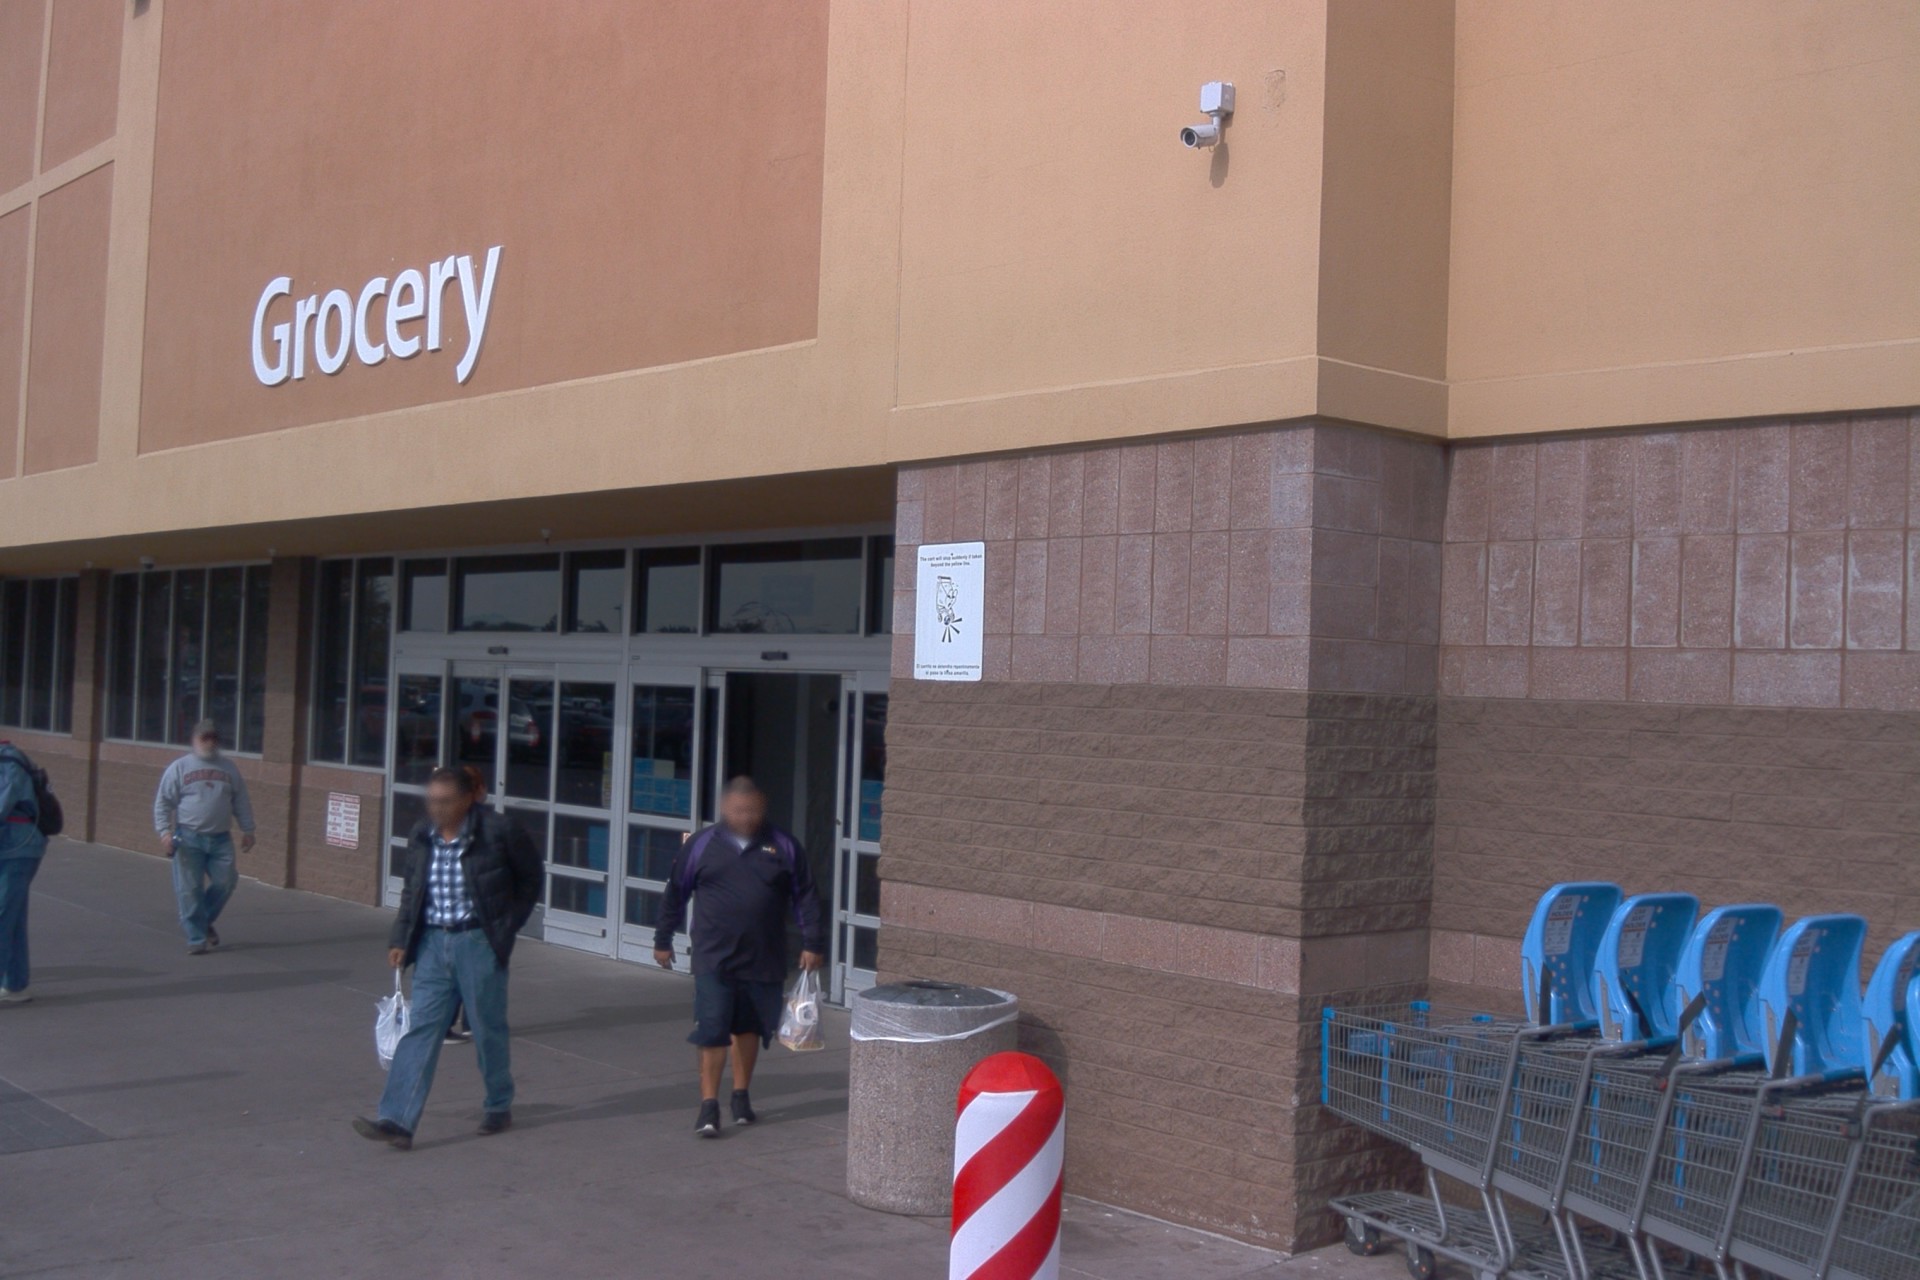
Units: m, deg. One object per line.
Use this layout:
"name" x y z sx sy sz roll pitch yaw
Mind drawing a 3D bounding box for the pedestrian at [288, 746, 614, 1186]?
"pedestrian" -2.238 1.382 9.260 1.000 1.760 1.000 1 0 19

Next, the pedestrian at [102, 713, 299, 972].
"pedestrian" -5.387 1.391 14.765 1.000 1.710 1.000 1 0 -40

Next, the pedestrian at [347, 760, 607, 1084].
"pedestrian" -2.695 1.518 11.625 1.000 1.630 1.000 1 0 43

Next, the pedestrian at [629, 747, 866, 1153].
"pedestrian" -1.018 1.389 9.708 1.009 1.720 1.094 1 0 -9
